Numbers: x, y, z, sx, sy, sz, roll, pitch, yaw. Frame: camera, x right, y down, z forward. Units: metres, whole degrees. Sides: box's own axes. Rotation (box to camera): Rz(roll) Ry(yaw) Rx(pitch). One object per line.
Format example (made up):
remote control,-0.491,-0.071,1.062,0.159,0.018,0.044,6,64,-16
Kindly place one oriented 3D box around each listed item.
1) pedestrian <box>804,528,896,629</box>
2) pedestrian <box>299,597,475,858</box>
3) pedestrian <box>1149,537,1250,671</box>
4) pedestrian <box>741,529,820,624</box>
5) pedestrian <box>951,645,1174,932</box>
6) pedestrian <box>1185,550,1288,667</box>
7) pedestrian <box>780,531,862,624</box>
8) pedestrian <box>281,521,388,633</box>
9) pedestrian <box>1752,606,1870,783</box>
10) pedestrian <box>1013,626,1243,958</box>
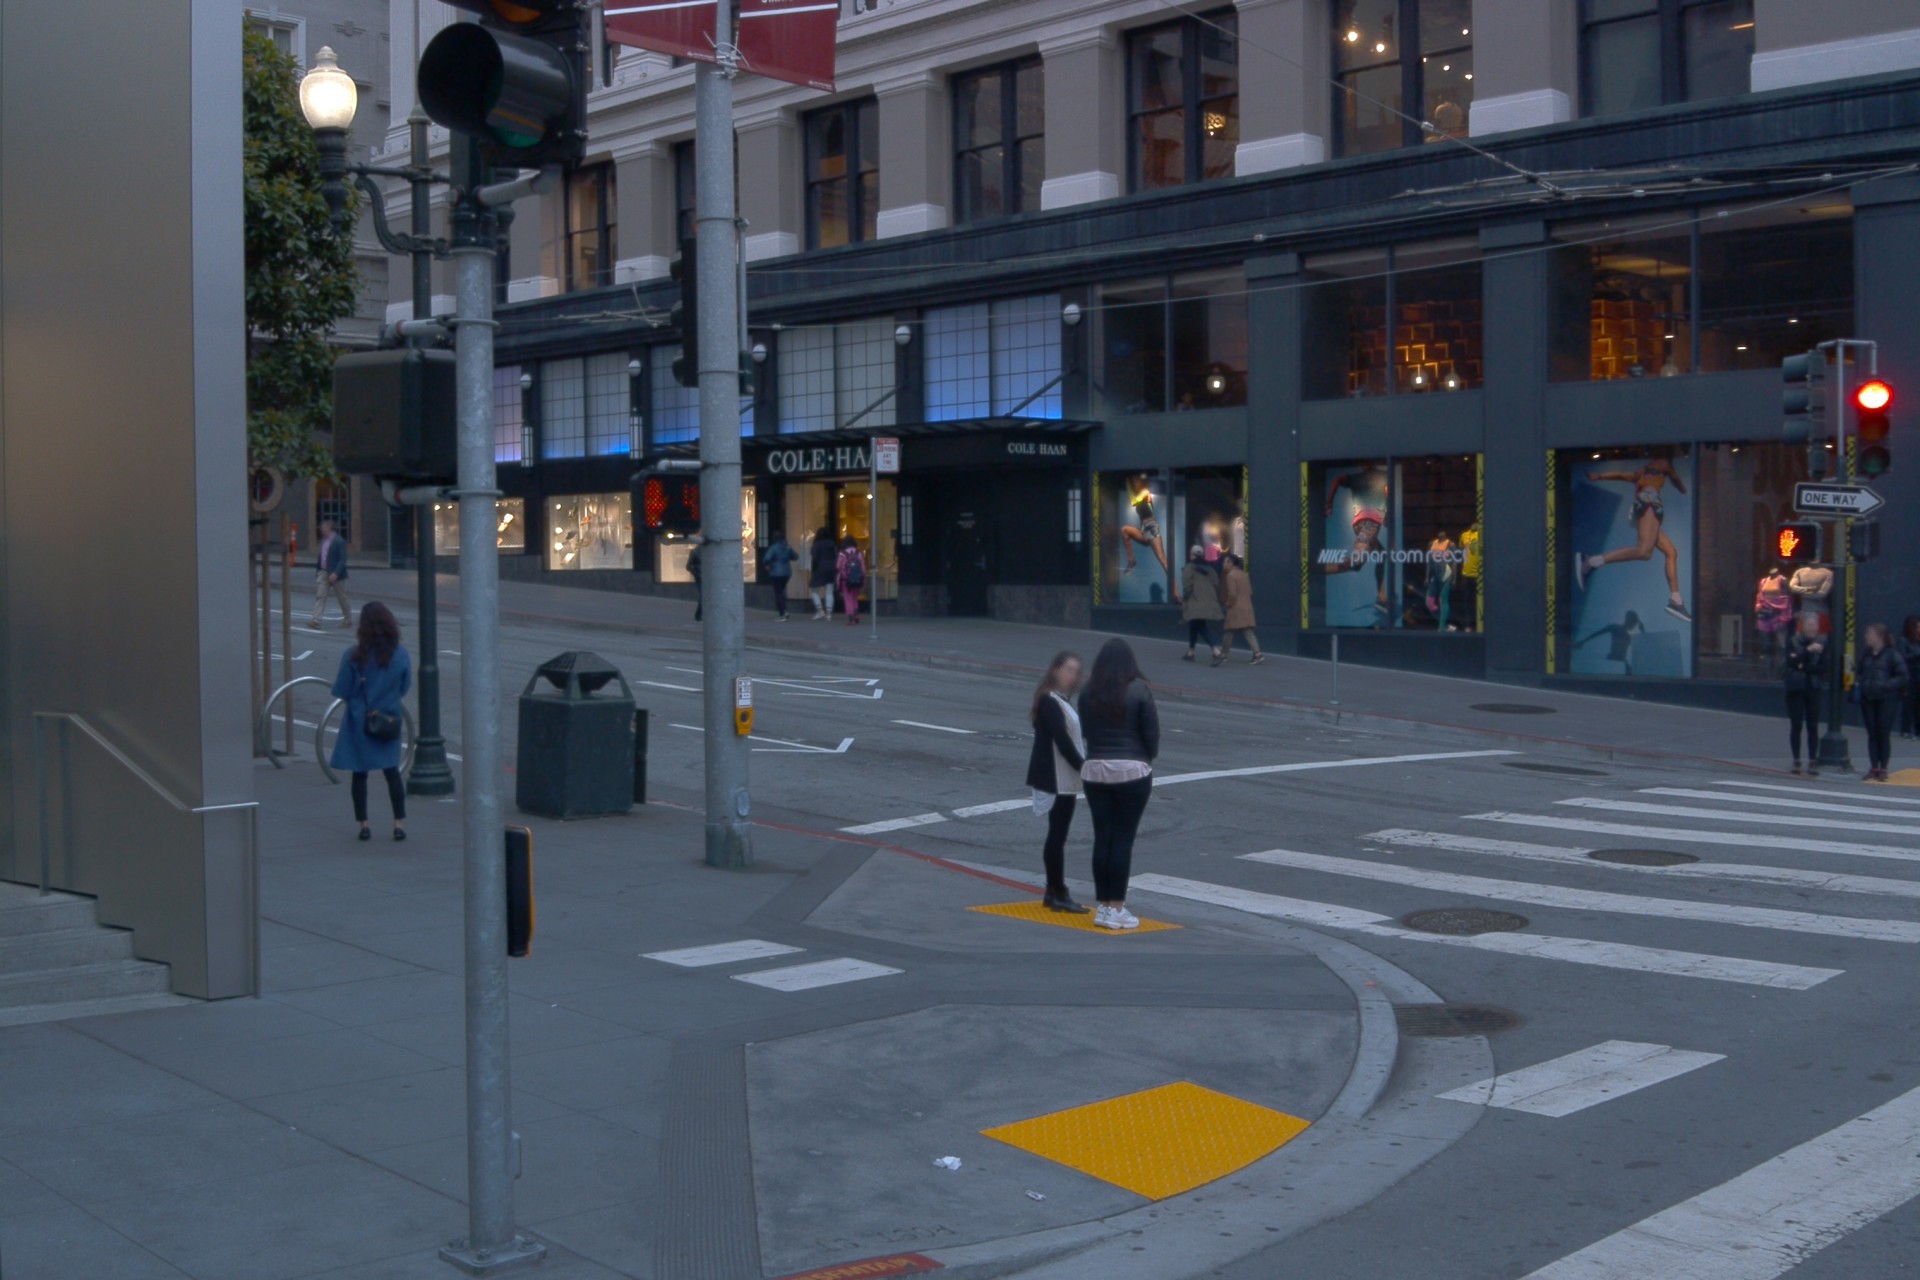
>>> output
pedestrian,-1.895,-1.048,35.162,1.127,1.690,1.183,0,1,-34
pedestrian,-4.004,0.575,14.310,0.951,1.750,0.801,0,1,-37
pedestrian,3.533,-0.529,30.237,1.104,1.920,0.963,1,1,43
pedestrian,-3.232,-1.136,36.928,0.994,1.670,0.999,-1,1,-44
pedestrian,0.656,0.896,13.049,0.997,1.710,1.003,1,1,42
pedestrian,4.124,-0.468,30.550,1.053,1.700,1.108,-1,1,-45
pedestrian,-2.512,-1.119,37.055,0.965,1.630,1.148,0,1,-44
pedestrian,-10.214,-1.021,33.509,1.093,1.780,1.343,1,1,19
pedestrian,8.945,0.545,21.527,0.895,1.800,1.088,1,1,36
pedestrian,1.011,0.866,12.353,1.113,1.890,0.813,0,1,-33
